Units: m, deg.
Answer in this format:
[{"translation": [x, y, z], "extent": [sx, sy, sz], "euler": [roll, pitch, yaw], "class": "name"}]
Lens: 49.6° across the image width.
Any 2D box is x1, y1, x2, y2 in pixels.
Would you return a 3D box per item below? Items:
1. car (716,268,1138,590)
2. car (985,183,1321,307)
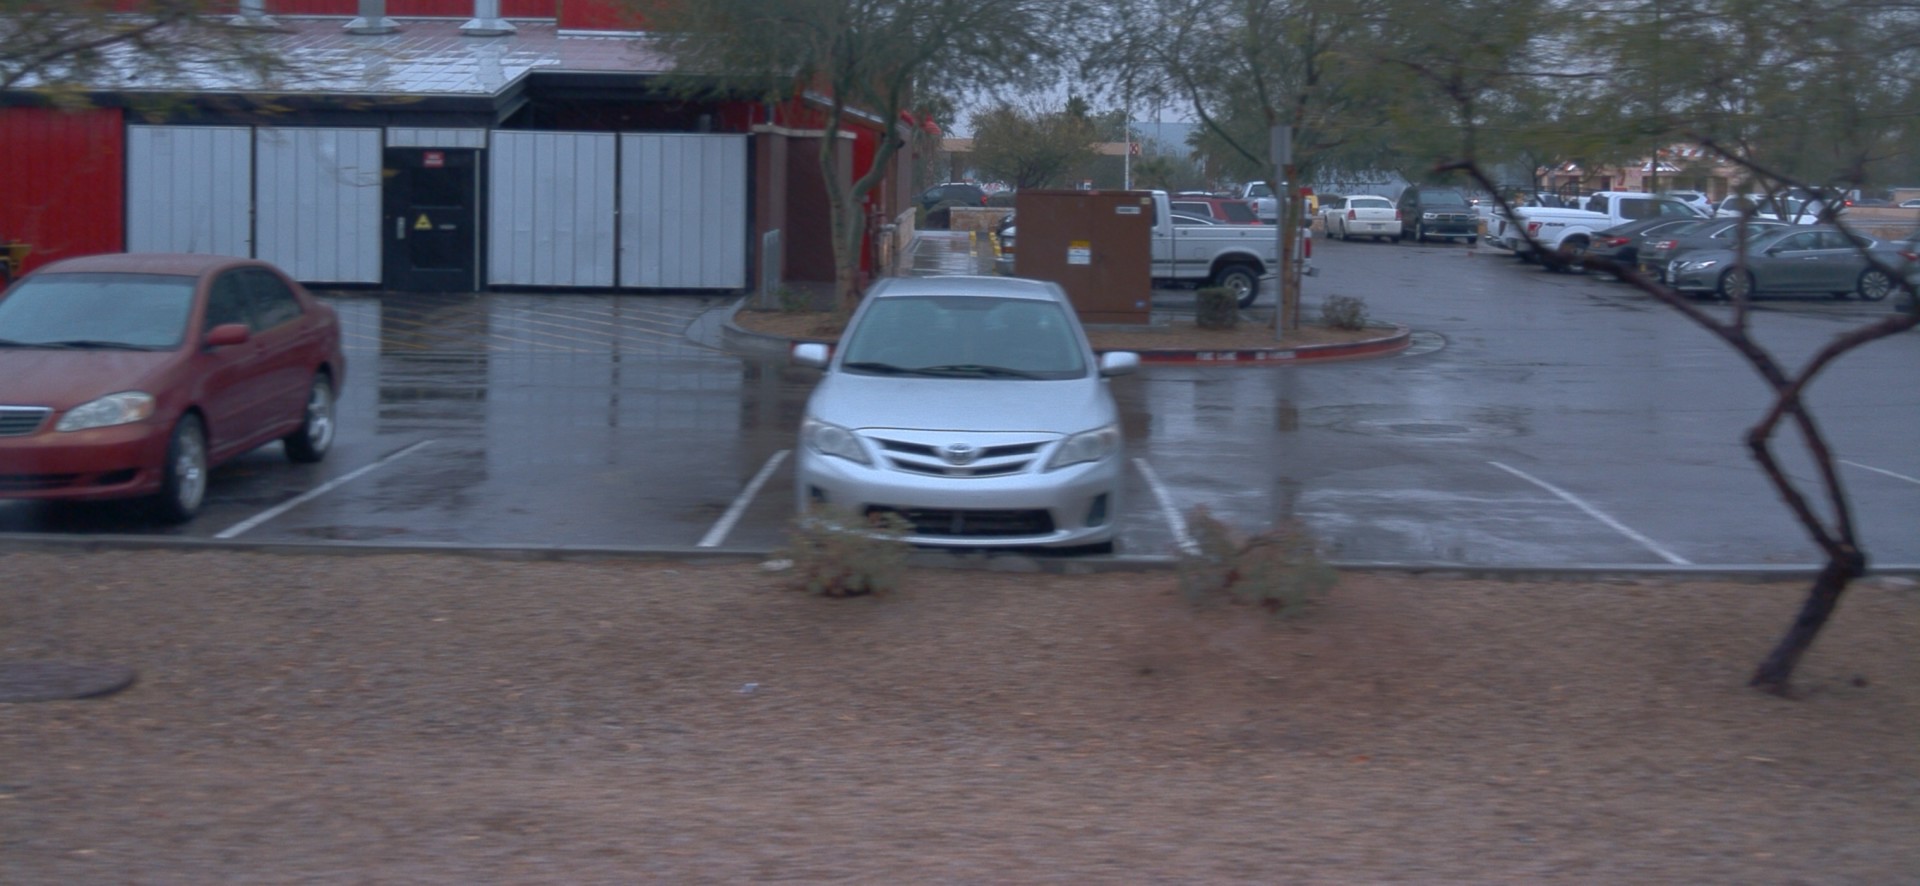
[{"translation": [-0.109, -0.267, 12.587], "extent": [2.070, 1.484, 4.702], "euler": [0, 5, 1], "class": "car"}, {"translation": [3.027, -3.192, 33.492], "extent": [5.212, 1.886, 2.117], "euler": [0, 3, -1], "class": "car"}]
